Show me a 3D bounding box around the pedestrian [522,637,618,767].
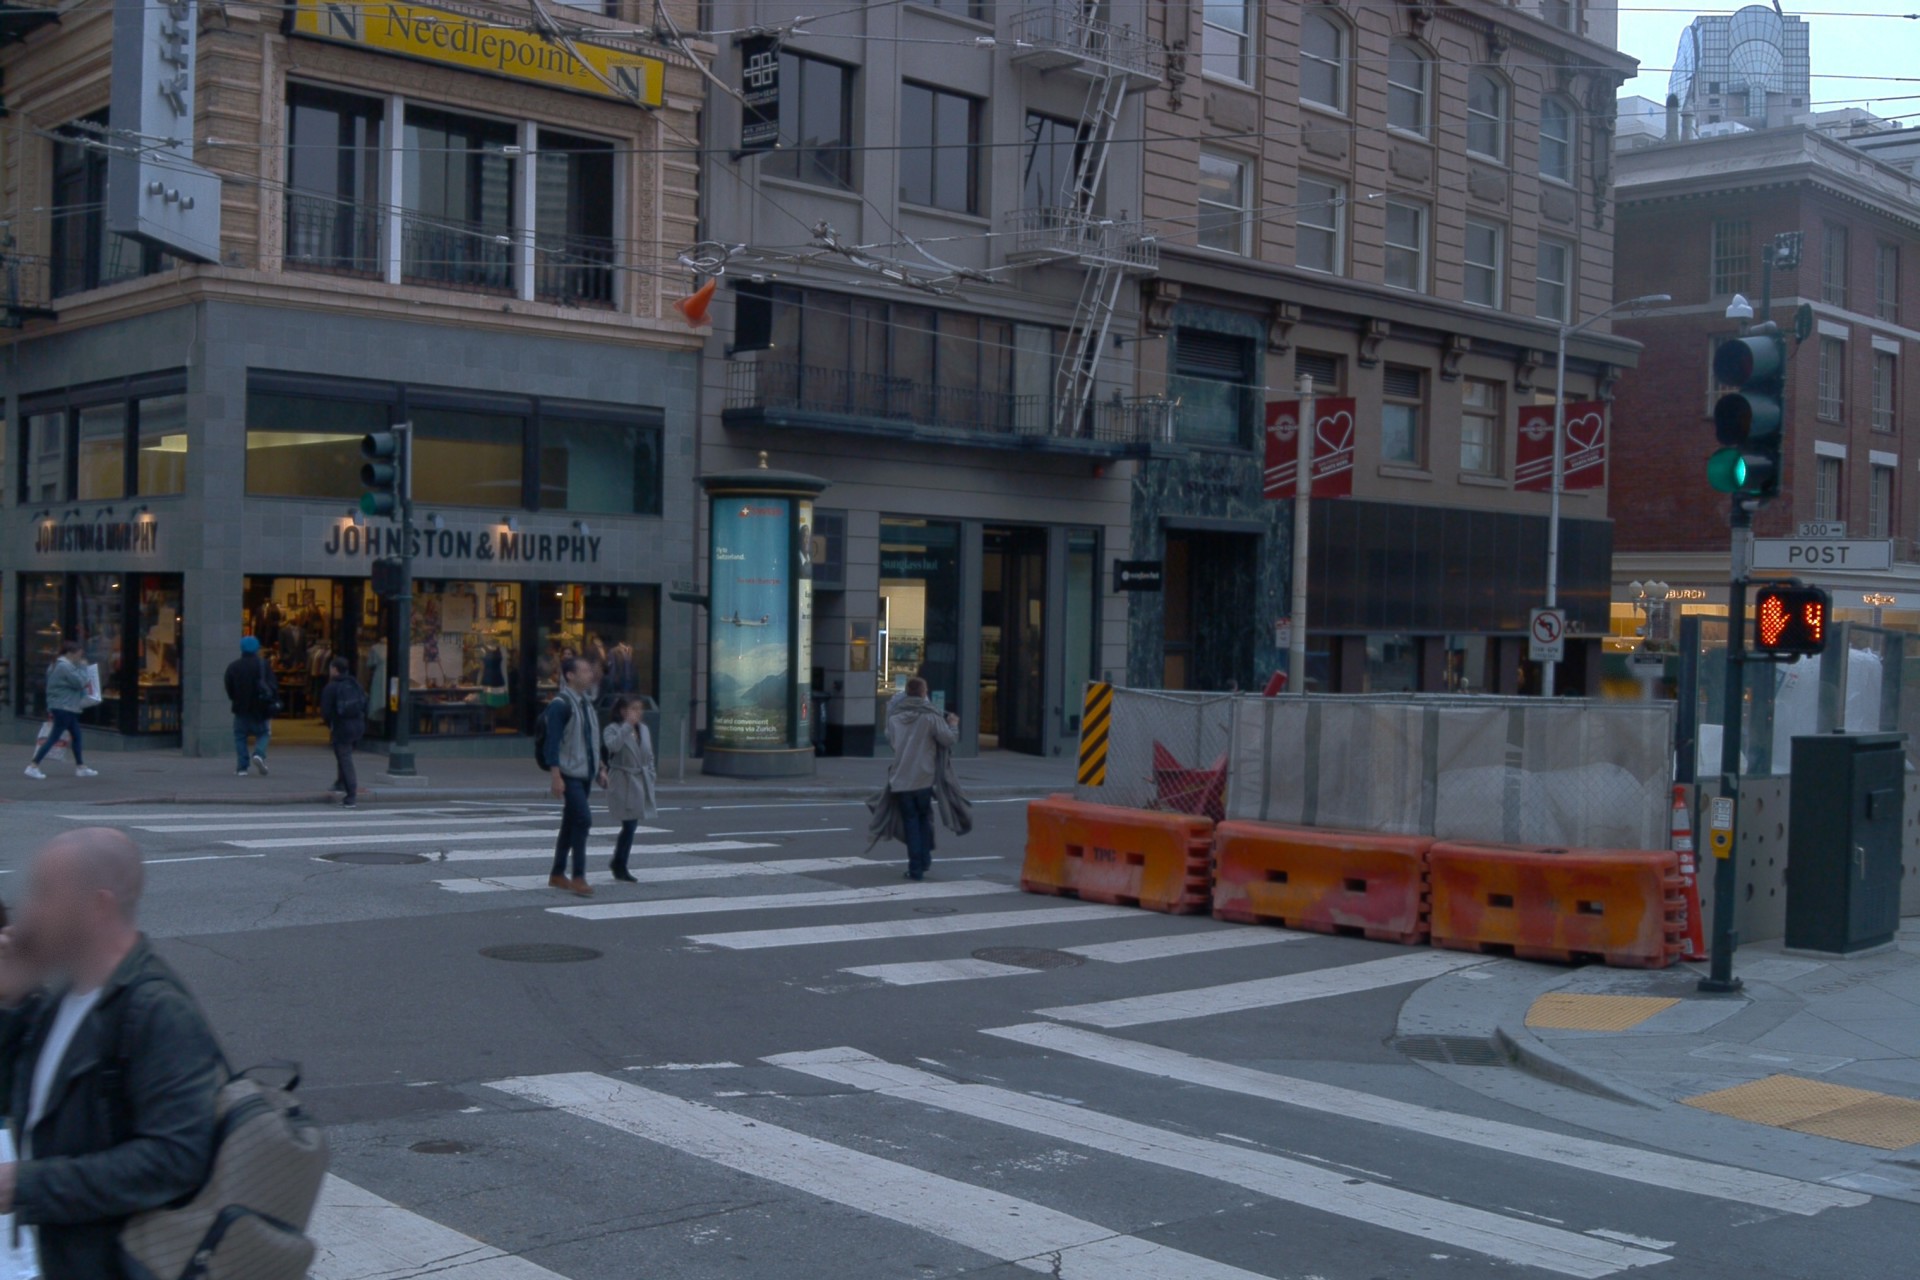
[{"bbox_3d":[-5.723,0.886,30.200,1.001,1.860,0.999,0,0,44],"label":"pedestrian"}]

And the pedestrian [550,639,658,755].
[{"bbox_3d":[-5.190,0.804,29.979,1.208,1.640,1.002,0,0,-42],"label":"pedestrian"}]

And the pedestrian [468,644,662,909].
[{"bbox_3d":[-3.072,1.014,15.993,1.115,1.960,1.012,0,0,42],"label":"pedestrian"}]

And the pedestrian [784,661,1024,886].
[{"bbox_3d":[-0.499,1.109,17.995,1.608,1.830,1.393,0,0,-32],"label":"pedestrian"}]

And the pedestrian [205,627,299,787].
[{"bbox_3d":[-8.445,0.779,24.582,1.000,1.860,1.000,0,0,-15],"label":"pedestrian"}]

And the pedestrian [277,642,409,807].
[{"bbox_3d":[-6.830,0.906,22.783,1.164,1.770,0.890,0,0,38],"label":"pedestrian"}]

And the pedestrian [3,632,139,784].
[{"bbox_3d":[-10.358,0.766,23.959,1.177,1.710,1.090,0,0,45],"label":"pedestrian"}]

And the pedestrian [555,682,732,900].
[{"bbox_3d":[-2.569,1.184,16.681,1.115,1.660,0.918,0,0,41],"label":"pedestrian"}]
